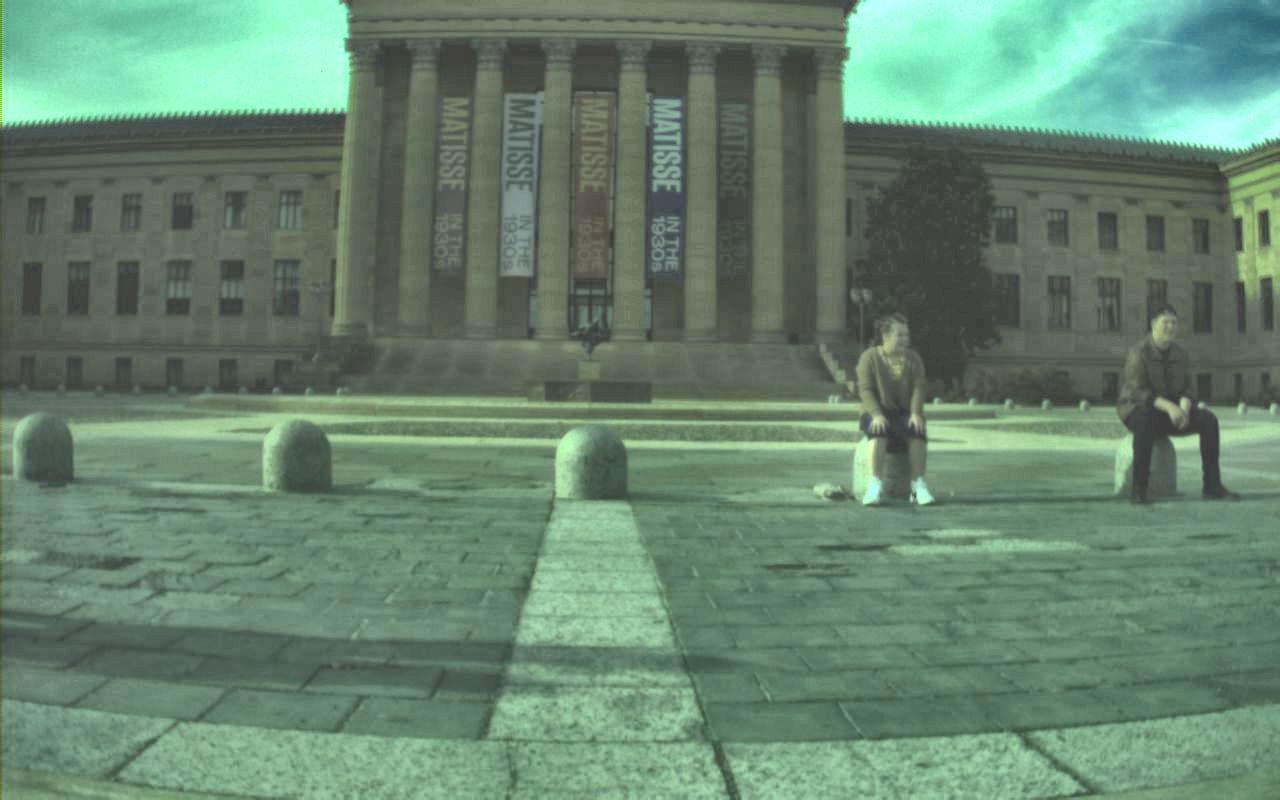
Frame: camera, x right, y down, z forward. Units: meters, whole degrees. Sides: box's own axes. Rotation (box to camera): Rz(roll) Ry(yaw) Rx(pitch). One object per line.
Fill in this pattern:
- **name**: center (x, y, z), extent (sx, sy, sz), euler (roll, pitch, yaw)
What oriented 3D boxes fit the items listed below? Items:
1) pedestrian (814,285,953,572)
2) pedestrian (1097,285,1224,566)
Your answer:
- **pedestrian**: center (1.570, 0.168, 7.894), extent (0.779, 1.735, 0.782), euler (1, 0, 18)
- **pedestrian**: center (3.498, 0.175, 7.904), extent (0.827, 1.802, 0.844), euler (1, 0, 21)
